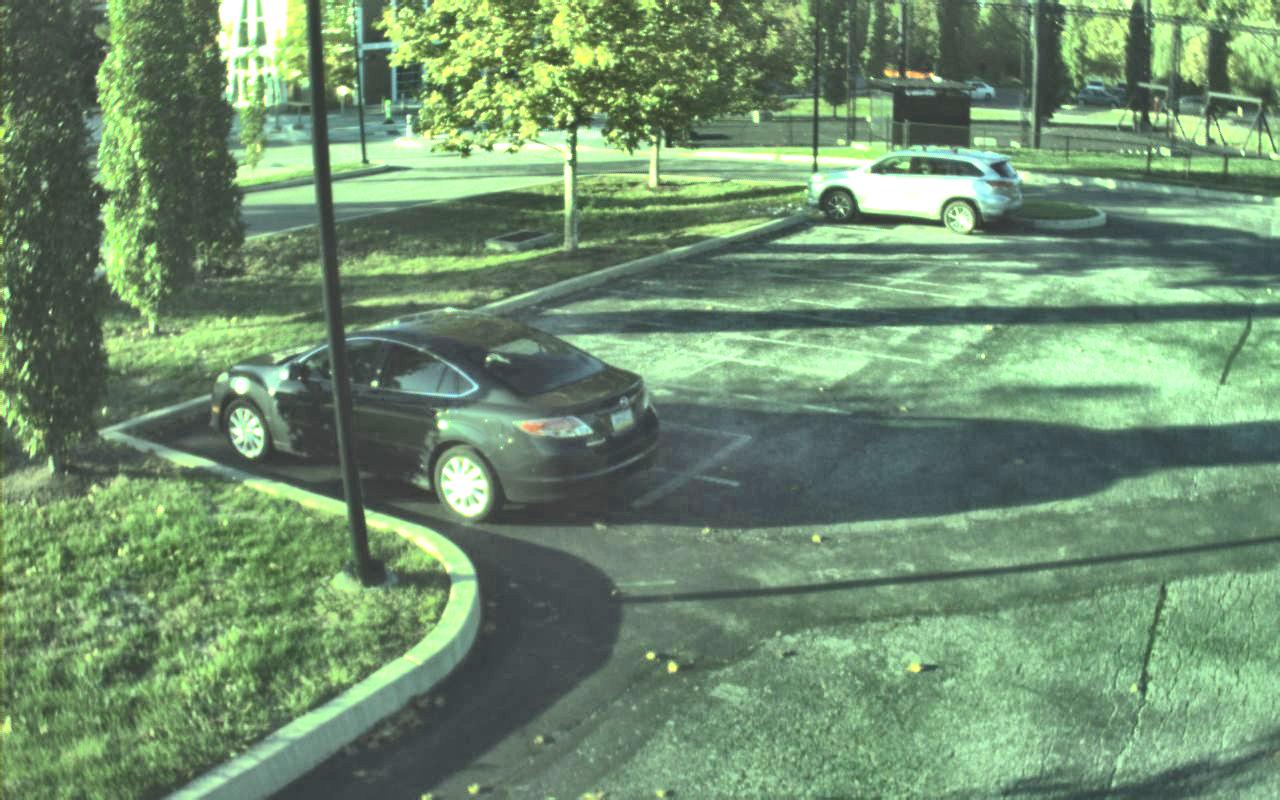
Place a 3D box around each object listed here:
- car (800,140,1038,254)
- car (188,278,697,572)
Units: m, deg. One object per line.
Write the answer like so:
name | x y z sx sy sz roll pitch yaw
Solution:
car | 6.160 -4.524 27.044 4.918 1.999 2.111 8 17 29
car | -1.972 0.009 11.479 4.614 1.601 1.984 9 18 33
